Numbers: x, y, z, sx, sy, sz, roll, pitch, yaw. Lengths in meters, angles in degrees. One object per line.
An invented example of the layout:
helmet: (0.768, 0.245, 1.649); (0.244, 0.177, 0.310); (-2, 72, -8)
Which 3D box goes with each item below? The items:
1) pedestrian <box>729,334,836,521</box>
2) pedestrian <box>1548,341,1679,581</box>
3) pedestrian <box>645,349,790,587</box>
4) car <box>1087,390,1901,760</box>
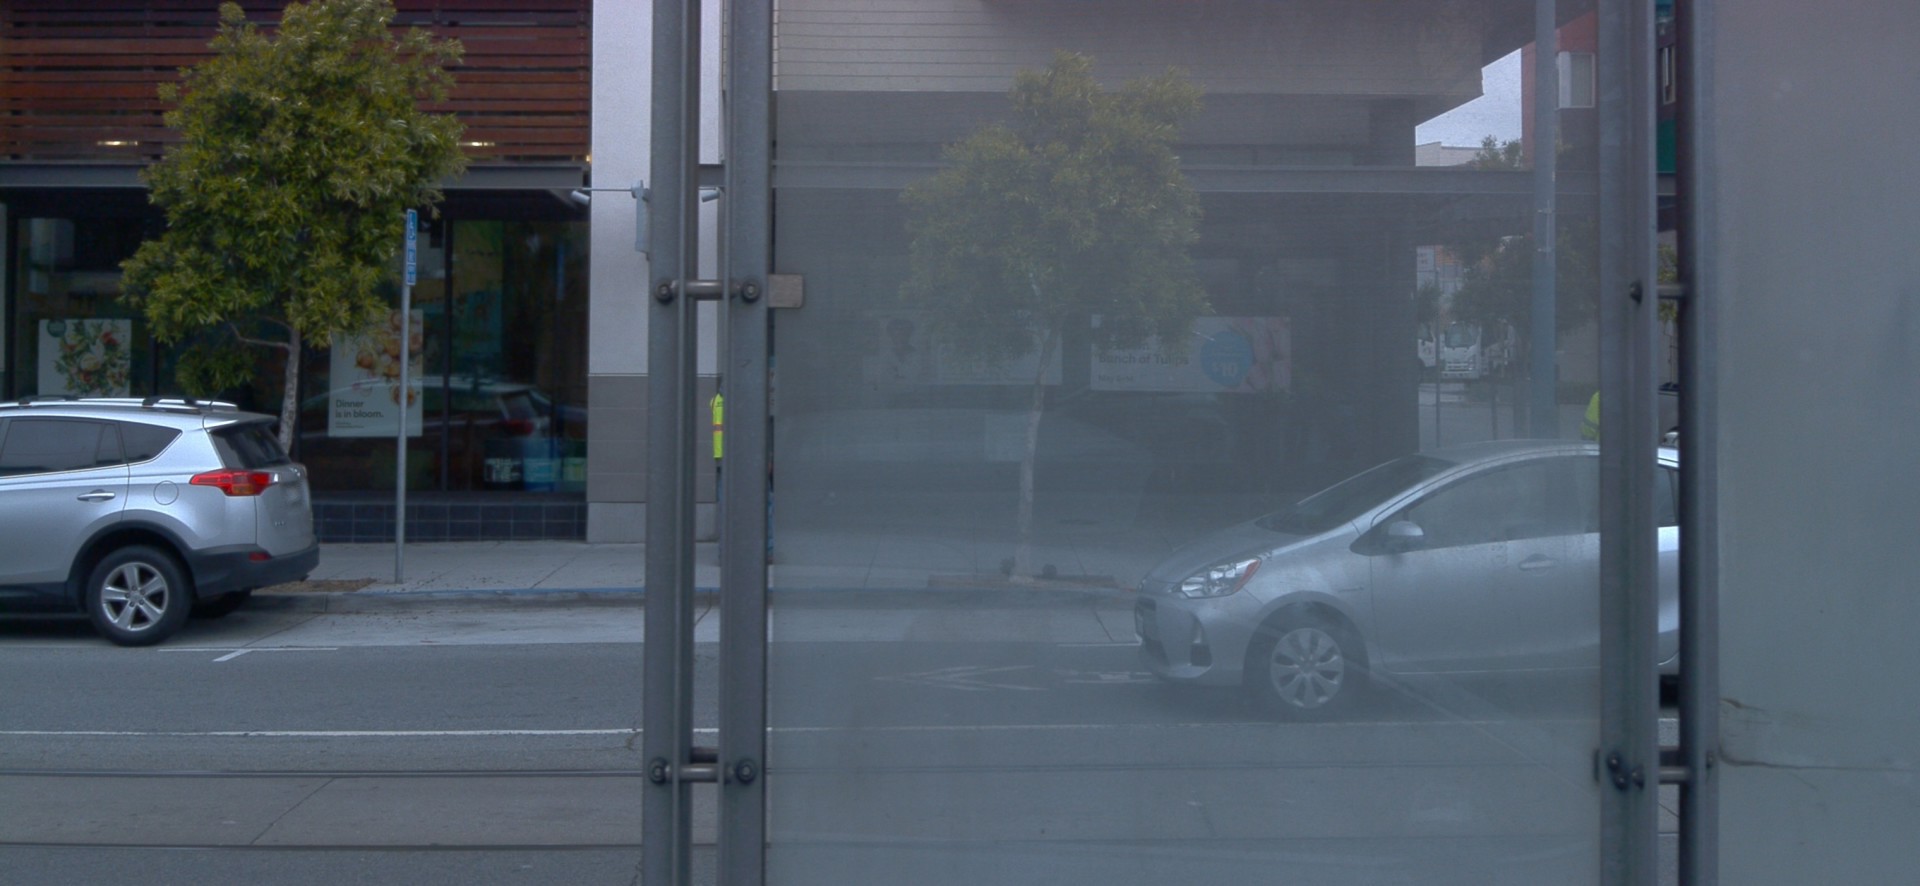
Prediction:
pedestrian: (-1.961, -0.193, 22.736); (1.076, 1.936, 0.844); (-1, 2, -11)
pedestrian: (5.364, 0.126, 16.973); (0.959, 1.867, 0.733); (0, 2, 11)
pedestrian: (-2.062, 0.178, 17.550); (0.855, 1.877, 0.863); (1, 3, 39)
car: (2.845, 0.641, 11.658); (3.999, 1.634, 2.104); (-1, 5, -4)
